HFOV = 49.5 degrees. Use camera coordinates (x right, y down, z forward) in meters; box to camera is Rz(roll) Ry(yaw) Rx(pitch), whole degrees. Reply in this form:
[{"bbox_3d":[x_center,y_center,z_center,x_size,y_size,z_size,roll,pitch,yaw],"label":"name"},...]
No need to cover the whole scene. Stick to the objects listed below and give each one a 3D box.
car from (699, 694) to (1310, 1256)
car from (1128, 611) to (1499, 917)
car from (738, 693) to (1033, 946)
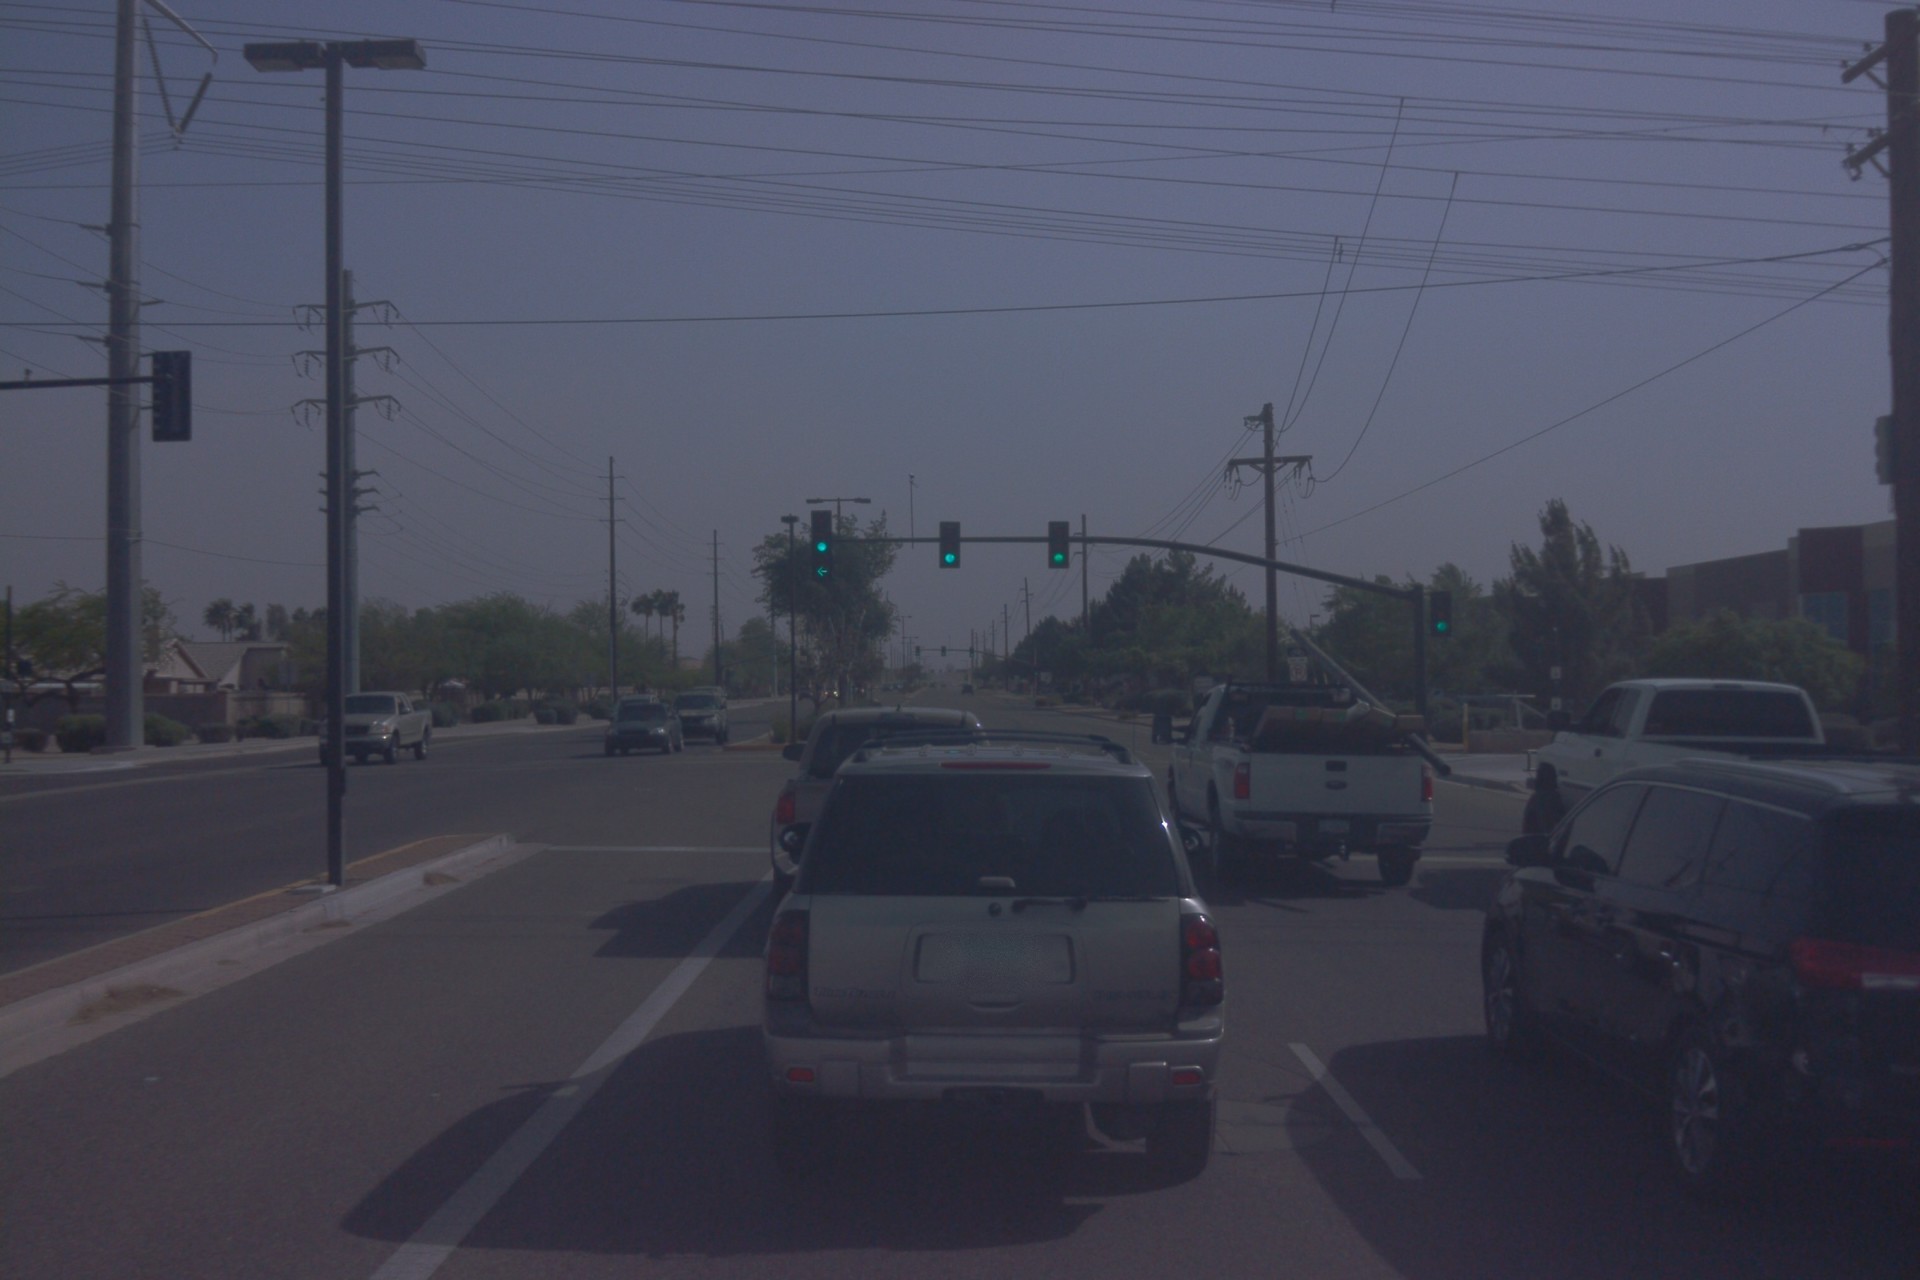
[{"bbox_3d":[0.145,1.275,9.891,2.201,1.960,4.684,0,-1,0],"label":"car"},{"bbox_3d":[3.419,1.148,21.923,2.664,2.710,6.759,0,-1,-1],"label":"car"},{"bbox_3d":[-0.539,1.374,17.433,2.149,1.780,4.304,0,-1,0],"label":"car"}]
